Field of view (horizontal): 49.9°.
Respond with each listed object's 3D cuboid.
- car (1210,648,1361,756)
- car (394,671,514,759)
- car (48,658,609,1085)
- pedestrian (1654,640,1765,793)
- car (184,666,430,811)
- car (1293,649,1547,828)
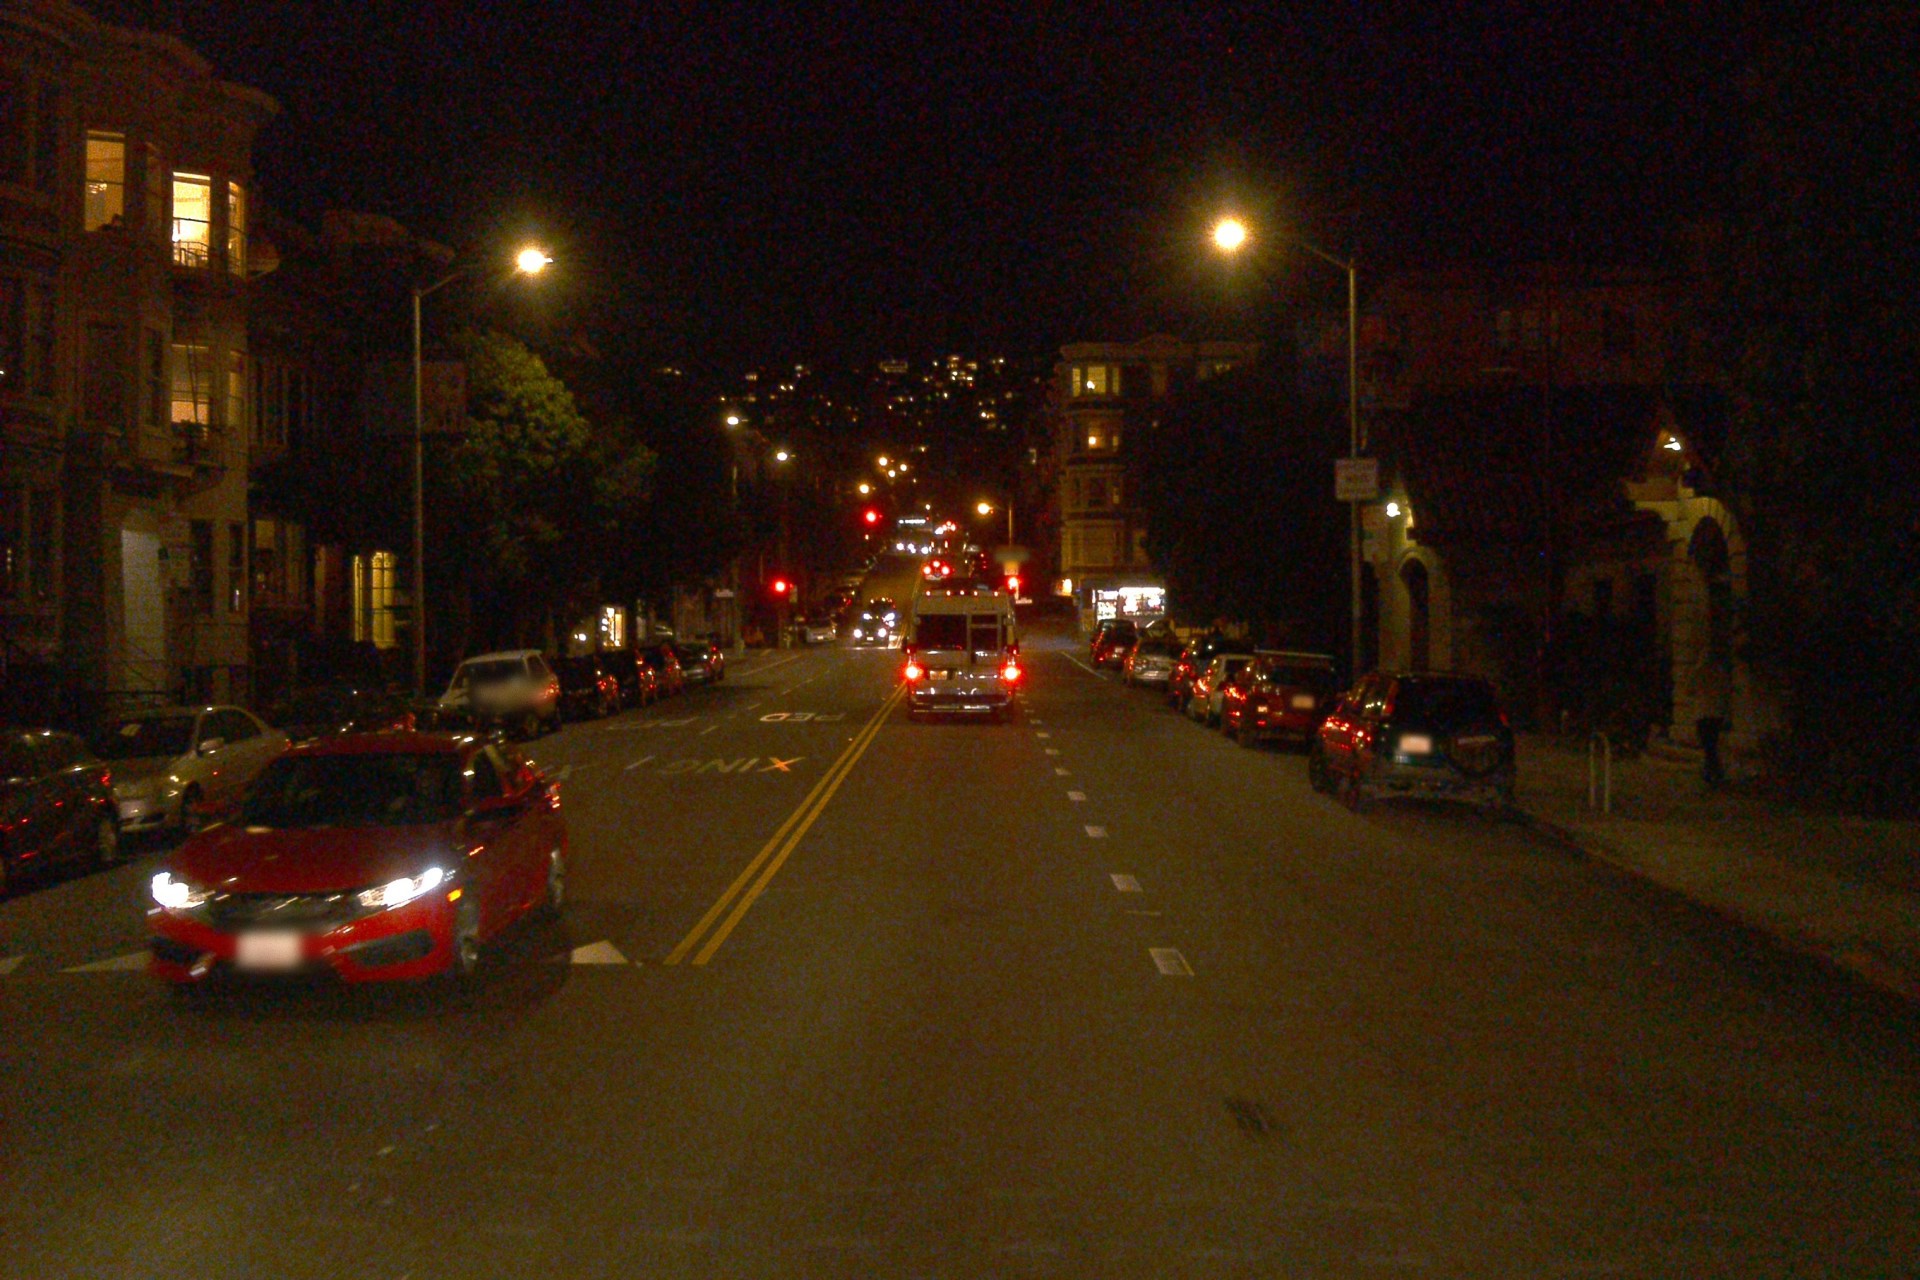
[{"bbox_3d":[5.648,1.035,36.400,2.036,1.750,4.549,0,0,1],"label":"car"},{"bbox_3d":[-8.985,1.325,36.712,1.924,1.530,0.789,0,0,0],"label":"car"},{"bbox_3d":[-3.665,1.225,12.974,2.199,2.170,4.429,0,0,0],"label":"car"},{"bbox_3d":[9.642,0.963,26.615,1.000,1.921,1.143,0,0,-1],"label":"pedestrian"},{"bbox_3d":[-9.048,1.302,29.043,2.028,1.810,4.561,0,0,0],"label":"car"},{"bbox_3d":[5.475,1.104,25.252,2.100,1.940,4.778,0,0,1],"label":"car"}]
